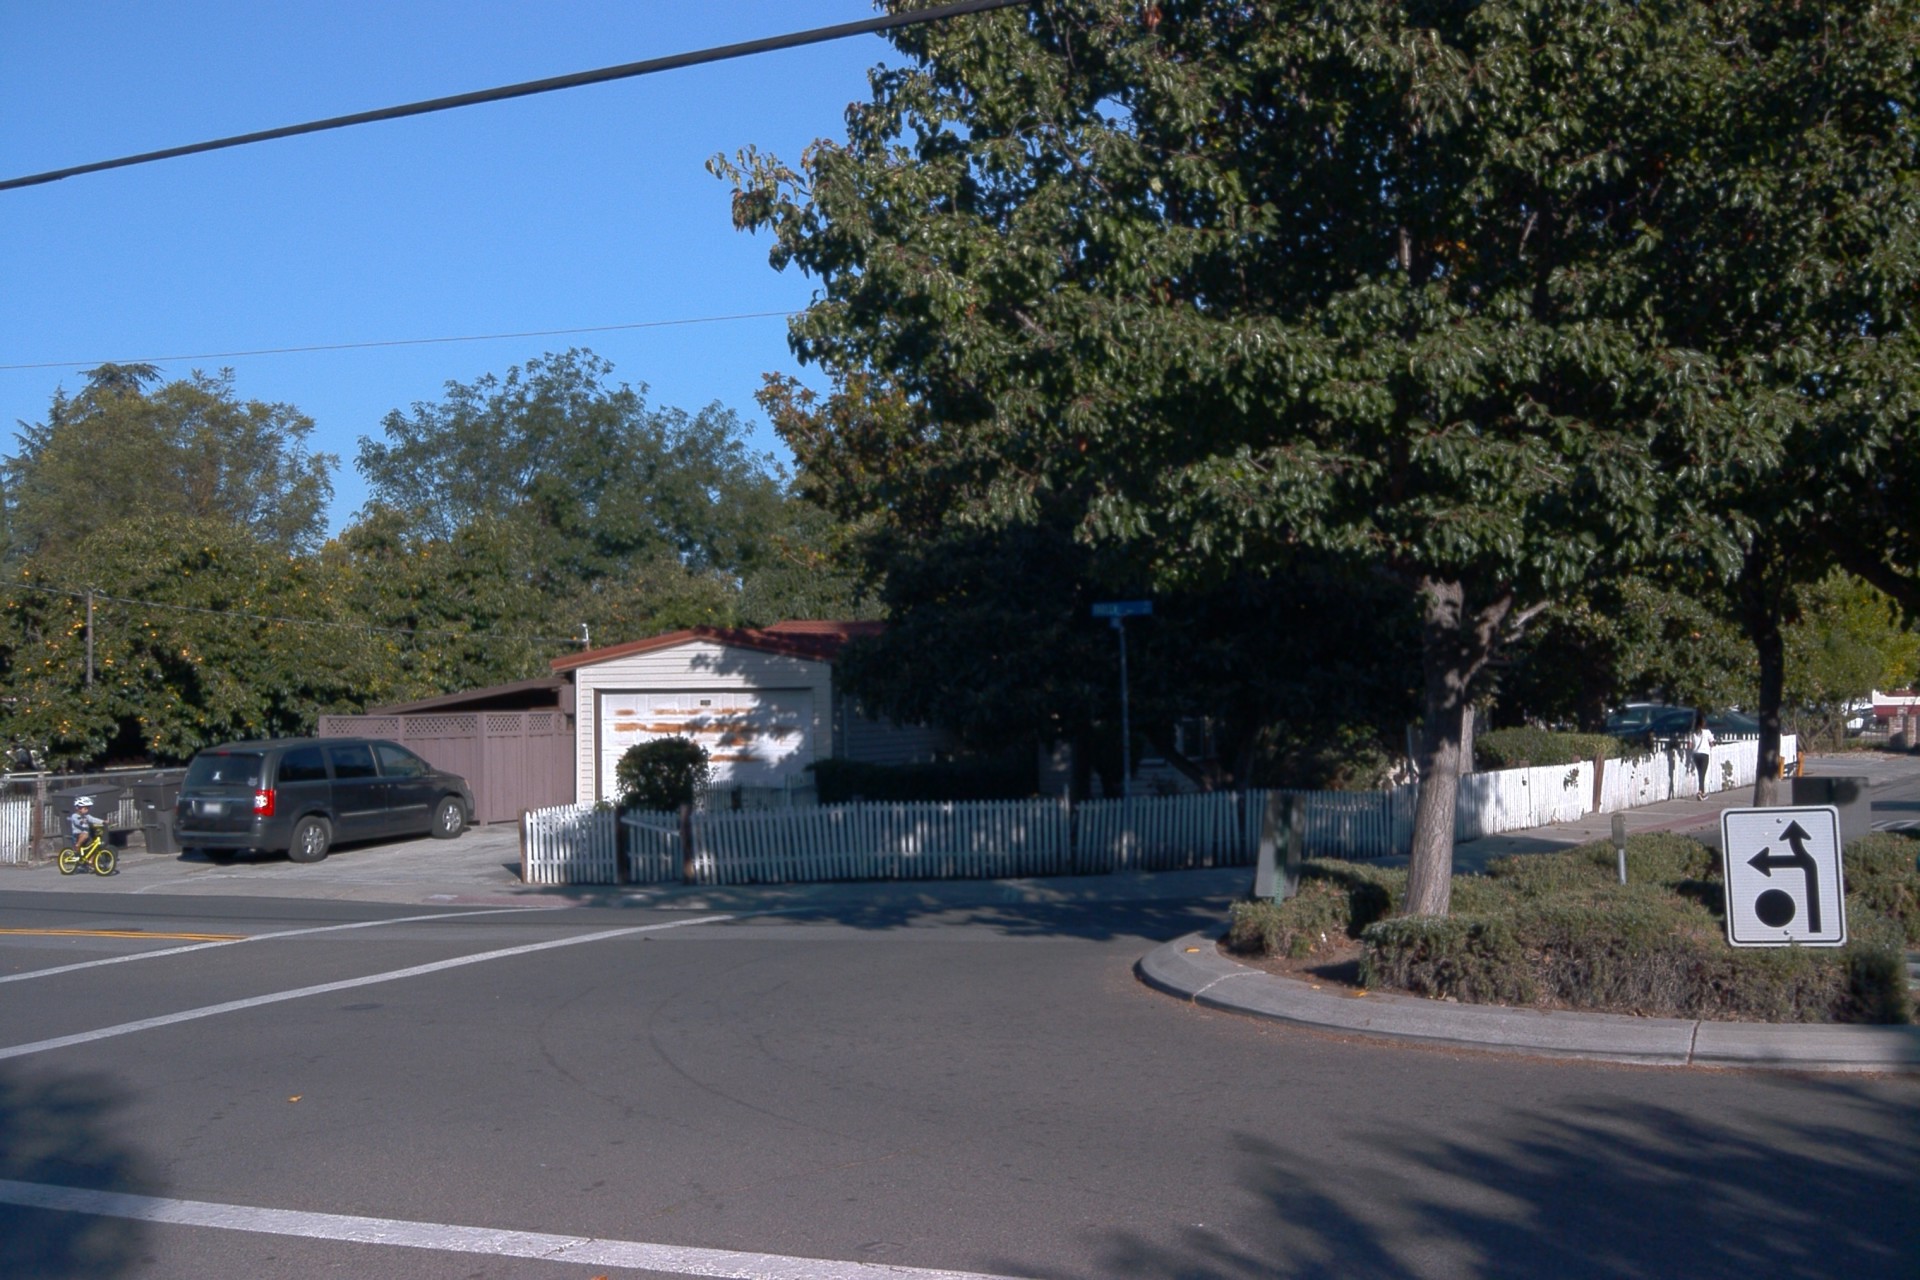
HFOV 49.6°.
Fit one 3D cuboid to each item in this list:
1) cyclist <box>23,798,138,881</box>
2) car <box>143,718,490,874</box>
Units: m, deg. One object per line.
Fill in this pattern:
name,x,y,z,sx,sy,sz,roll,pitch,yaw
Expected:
cyclist,-12.166,2.749,28.741,1.329,1.030,0.693,1,0,21
car,-9.496,2.244,31.159,2.140,1.930,4.988,1,0,25
